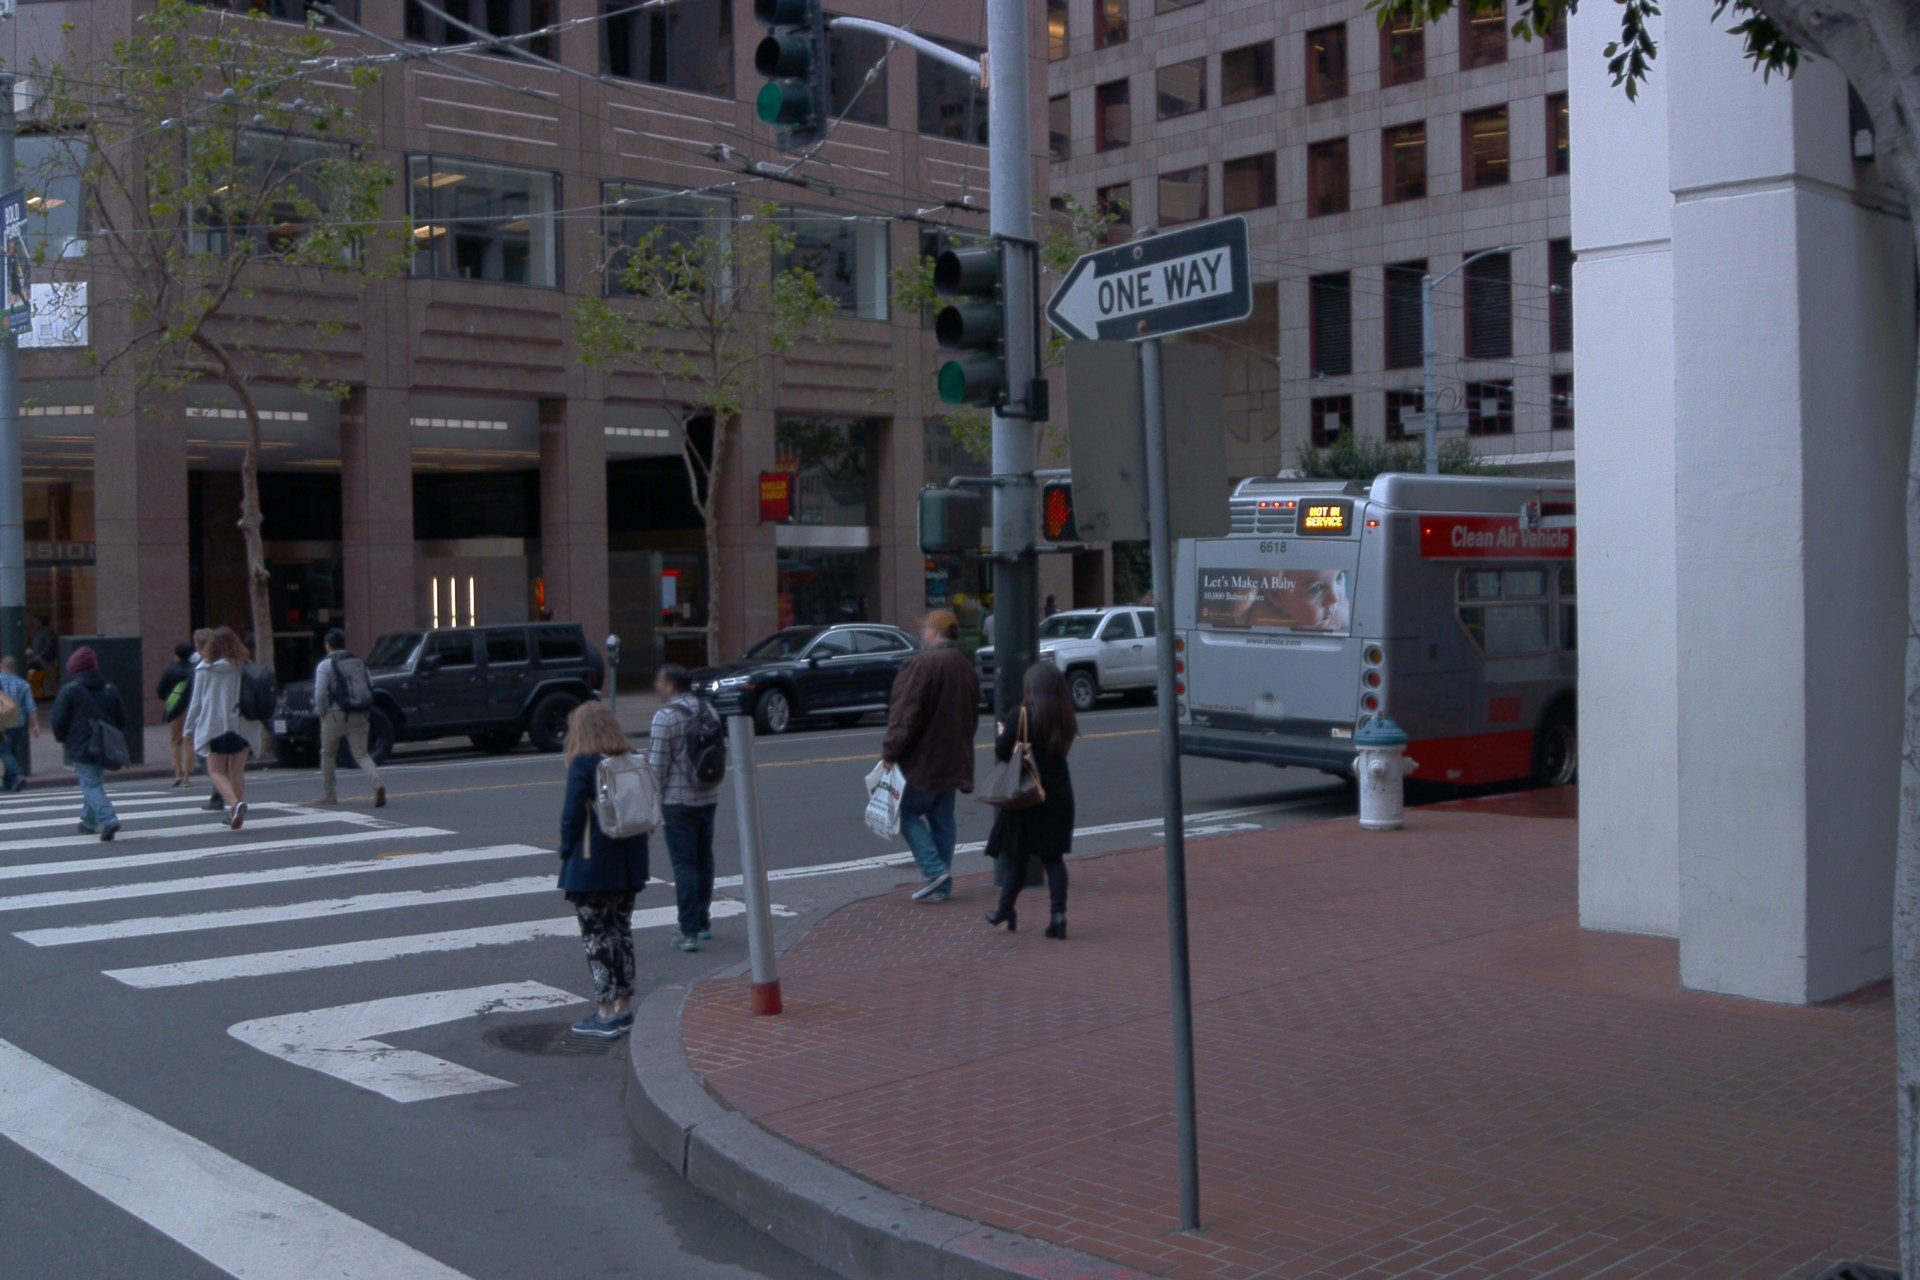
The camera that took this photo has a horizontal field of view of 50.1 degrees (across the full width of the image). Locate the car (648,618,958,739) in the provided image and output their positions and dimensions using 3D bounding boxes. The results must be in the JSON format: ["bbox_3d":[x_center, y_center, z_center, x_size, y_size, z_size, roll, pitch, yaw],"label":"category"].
[{"bbox_3d":[-2.424,0.542,32.497,4.539,1.770,2.126,-1,1,-43],"label":"car"}]

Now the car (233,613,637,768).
[{"bbox_3d":[-7.140,0.608,28.310,4.963,1.950,2.149,-1,1,-43],"label":"car"}]

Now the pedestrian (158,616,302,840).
[{"bbox_3d":[-6.287,0.726,17.701,0.838,1.856,0.966,0,0,-44],"label":"pedestrian"}]

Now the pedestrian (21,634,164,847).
[{"bbox_3d":[-7.278,0.812,17.252,0.975,1.713,0.753,0,0,41],"label":"pedestrian"}]

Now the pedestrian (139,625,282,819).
[{"bbox_3d":[-6.985,0.735,19.156,1.004,1.736,0.850,0,0,39],"label":"pedestrian"}]

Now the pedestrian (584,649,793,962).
[{"bbox_3d":[-1.682,0.970,12.698,1.066,1.816,0.777,0,0,44],"label":"pedestrian"}]

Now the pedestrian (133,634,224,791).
[{"bbox_3d":[-8.875,0.798,23.332,0.823,1.716,1.001,0,0,-29],"label":"pedestrian"}]

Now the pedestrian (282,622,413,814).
[{"bbox_3d":[-5.864,0.716,19.676,0.778,1.775,1.057,0,0,-45],"label":"pedestrian"}]

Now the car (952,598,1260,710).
[{"bbox_3d":[2.739,0.201,37.314,2.385,1.890,5.778,0,1,45],"label":"car"}]

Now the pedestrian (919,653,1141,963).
[{"bbox_3d":[0.376,0.887,11.413,0.870,1.606,0.970,0,0,-26],"label":"pedestrian"}]

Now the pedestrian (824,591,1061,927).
[{"bbox_3d":[-0.119,0.692,12.787,0.950,1.968,1.152,0,0,-40],"label":"pedestrian"}]

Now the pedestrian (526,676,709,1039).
[{"bbox_3d":[-1.770,1.063,10.545,0.750,1.726,0.988,0,0,-20],"label":"pedestrian"}]
